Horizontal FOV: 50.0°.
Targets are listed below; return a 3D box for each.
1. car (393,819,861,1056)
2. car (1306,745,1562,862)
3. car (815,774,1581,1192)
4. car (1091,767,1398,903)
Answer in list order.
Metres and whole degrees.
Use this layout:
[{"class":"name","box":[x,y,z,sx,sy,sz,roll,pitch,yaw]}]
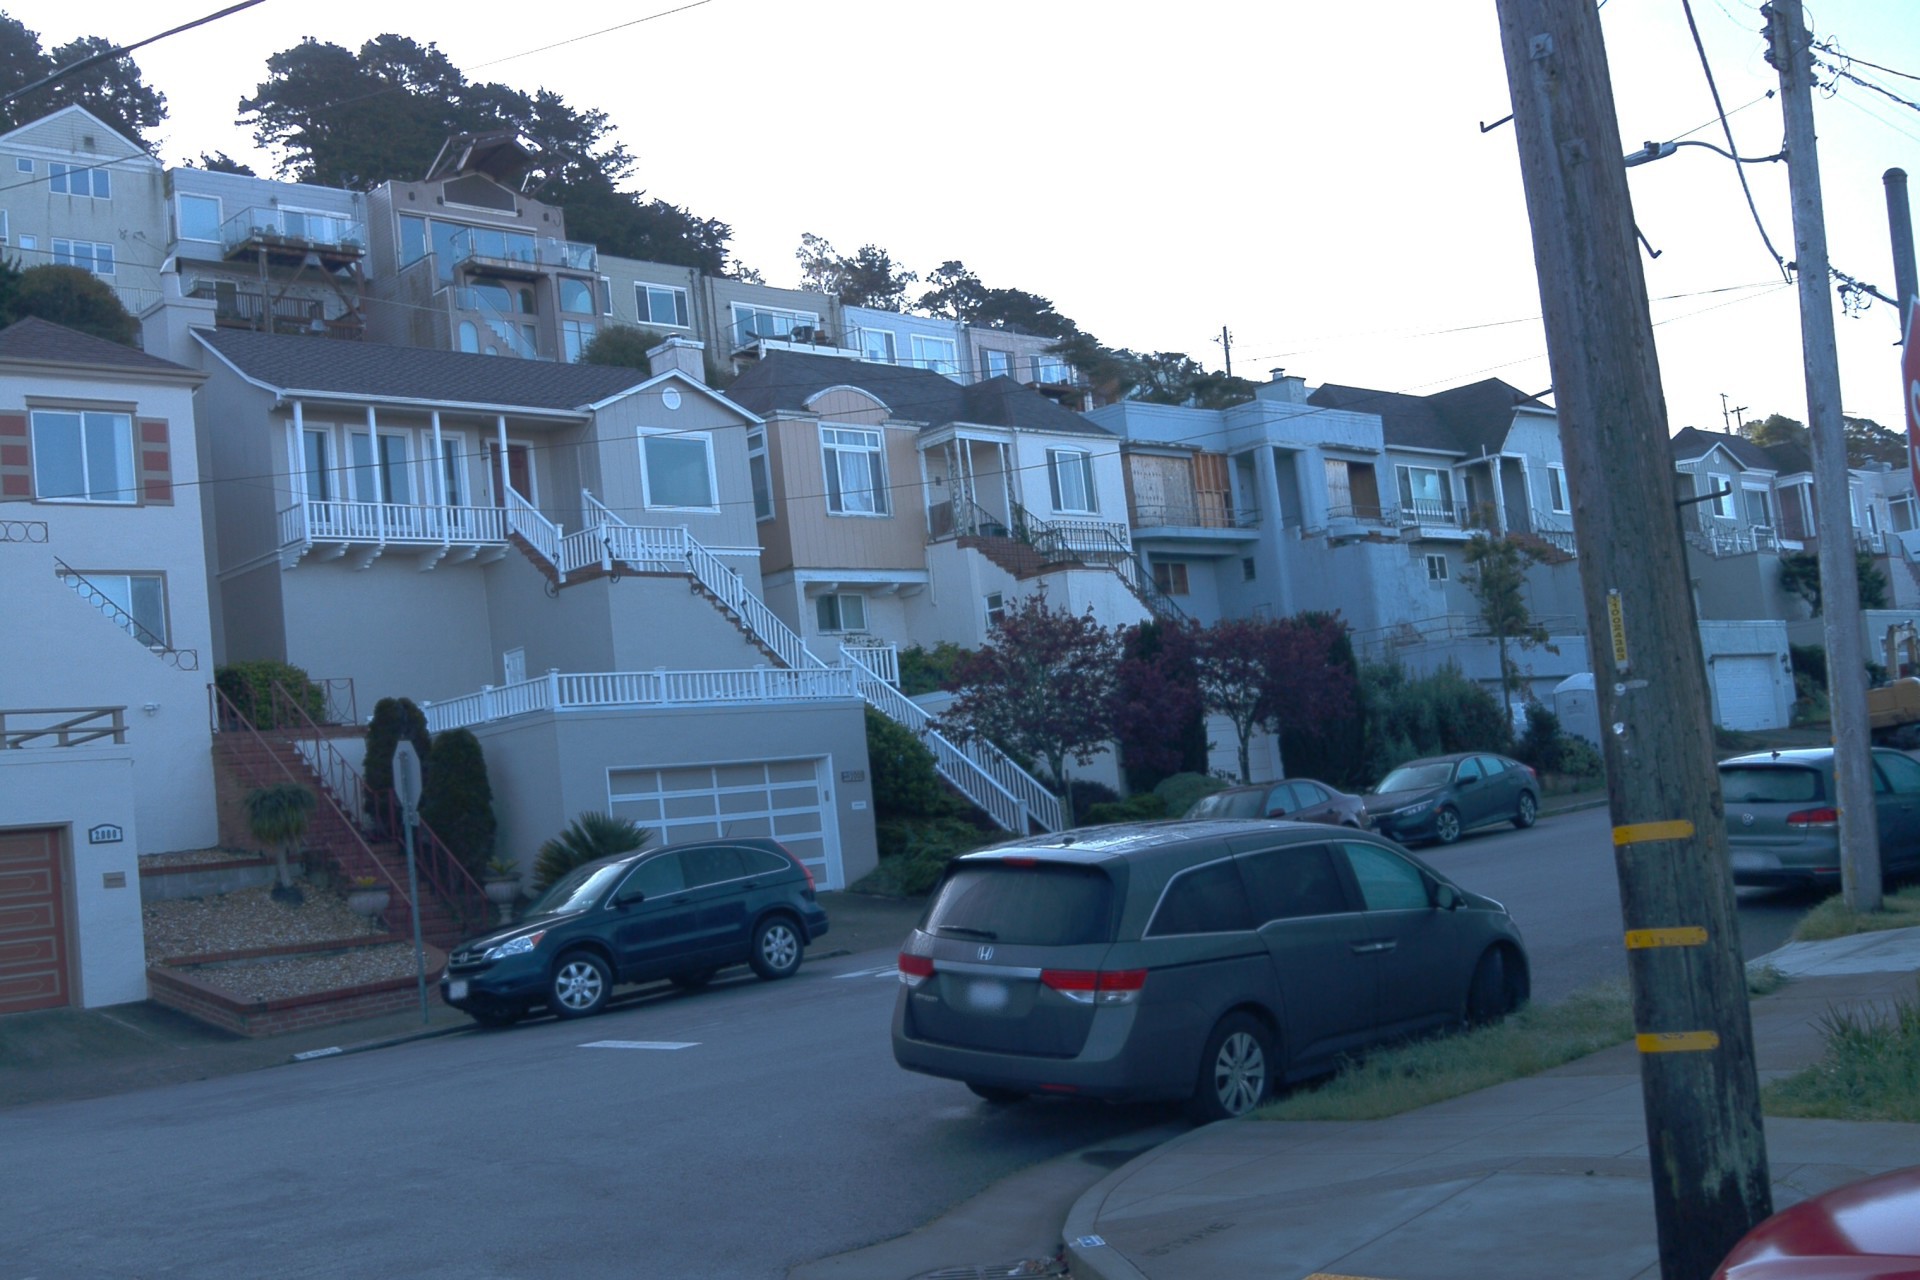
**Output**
[{"class":"car","box":[-3.566,3.137,22.695,2.207,1.910,4.680,0,0,45]},{"class":"car","box":[8.006,2.668,34.478,2.163,1.560,4.754,0,0,42]},{"class":"car","box":[1.769,1.985,13.574,2.390,1.860,5.188,0,0,43]},{"class":"car","box":[4.287,2.808,30.511,2.151,1.560,4.797,0,0,43]}]
